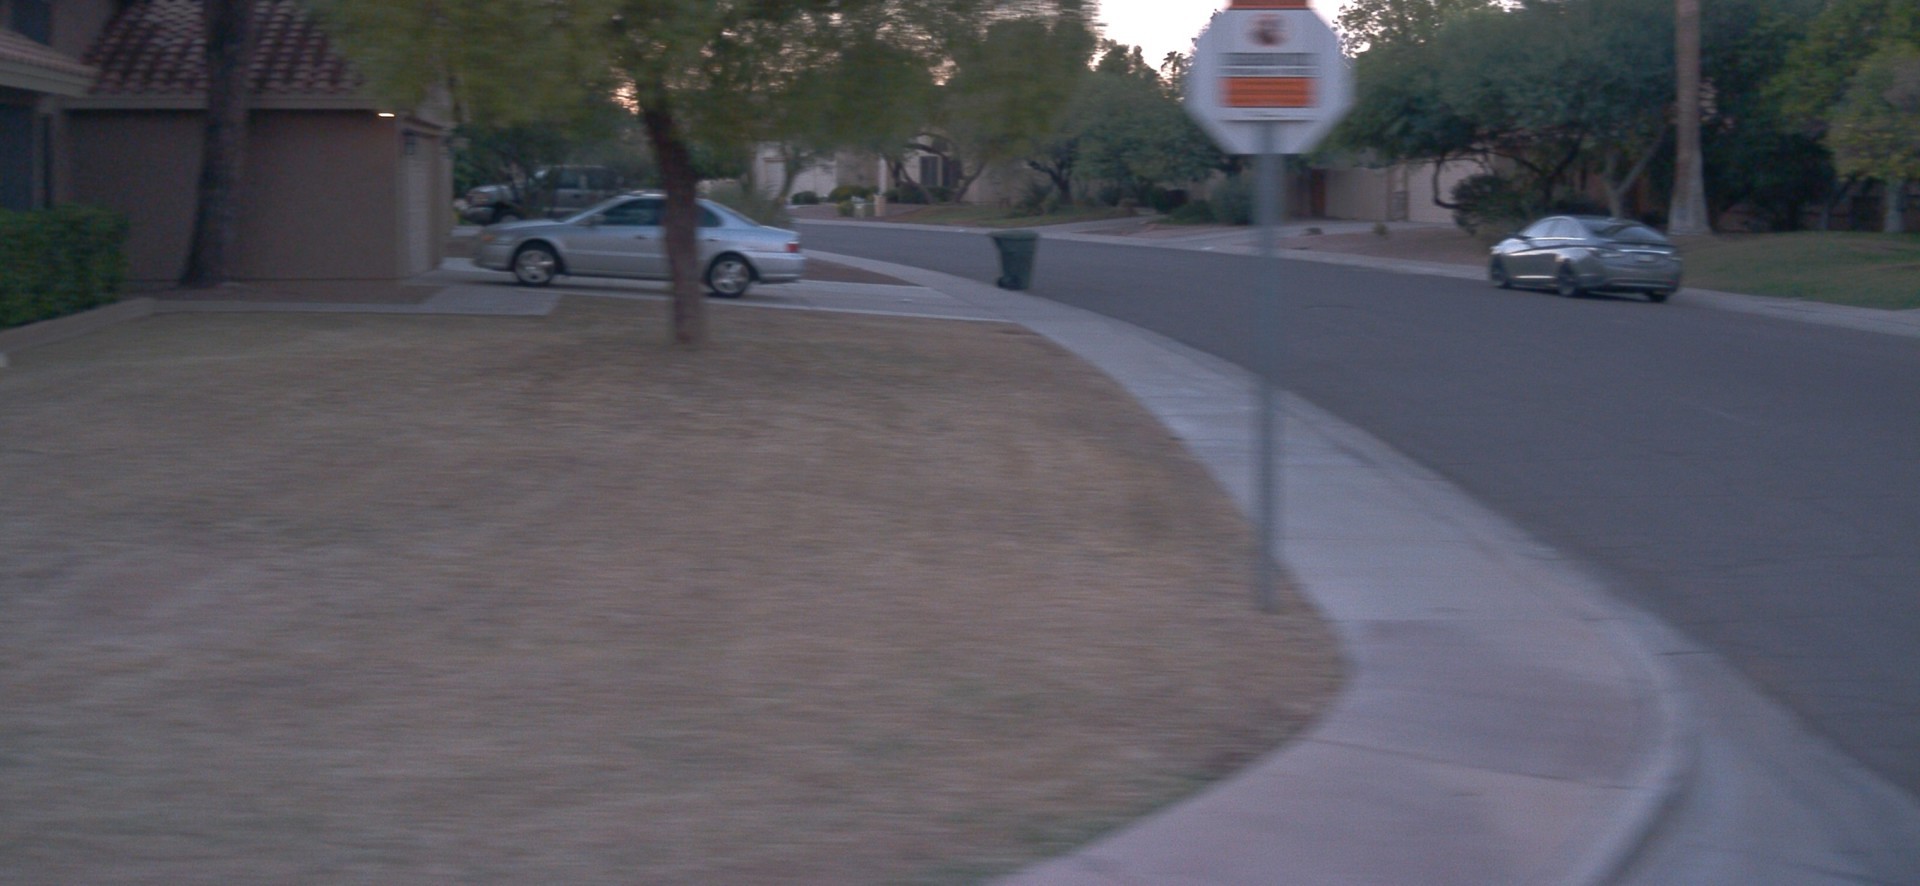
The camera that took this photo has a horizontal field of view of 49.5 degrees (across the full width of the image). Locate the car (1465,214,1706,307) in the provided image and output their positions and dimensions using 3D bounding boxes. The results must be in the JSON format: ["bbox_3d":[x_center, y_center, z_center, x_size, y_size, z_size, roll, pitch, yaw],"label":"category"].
[{"bbox_3d":[10.757,-3.209,36.185,2.122,1.493,4.652,0,6,-11],"label":"car"}]

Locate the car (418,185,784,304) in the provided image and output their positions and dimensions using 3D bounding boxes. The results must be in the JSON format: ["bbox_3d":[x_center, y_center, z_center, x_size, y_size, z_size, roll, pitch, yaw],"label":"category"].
[{"bbox_3d":[-5.120,-2.843,29.859,4.989,1.616,2.112,-1,4,-10],"label":"car"}]
